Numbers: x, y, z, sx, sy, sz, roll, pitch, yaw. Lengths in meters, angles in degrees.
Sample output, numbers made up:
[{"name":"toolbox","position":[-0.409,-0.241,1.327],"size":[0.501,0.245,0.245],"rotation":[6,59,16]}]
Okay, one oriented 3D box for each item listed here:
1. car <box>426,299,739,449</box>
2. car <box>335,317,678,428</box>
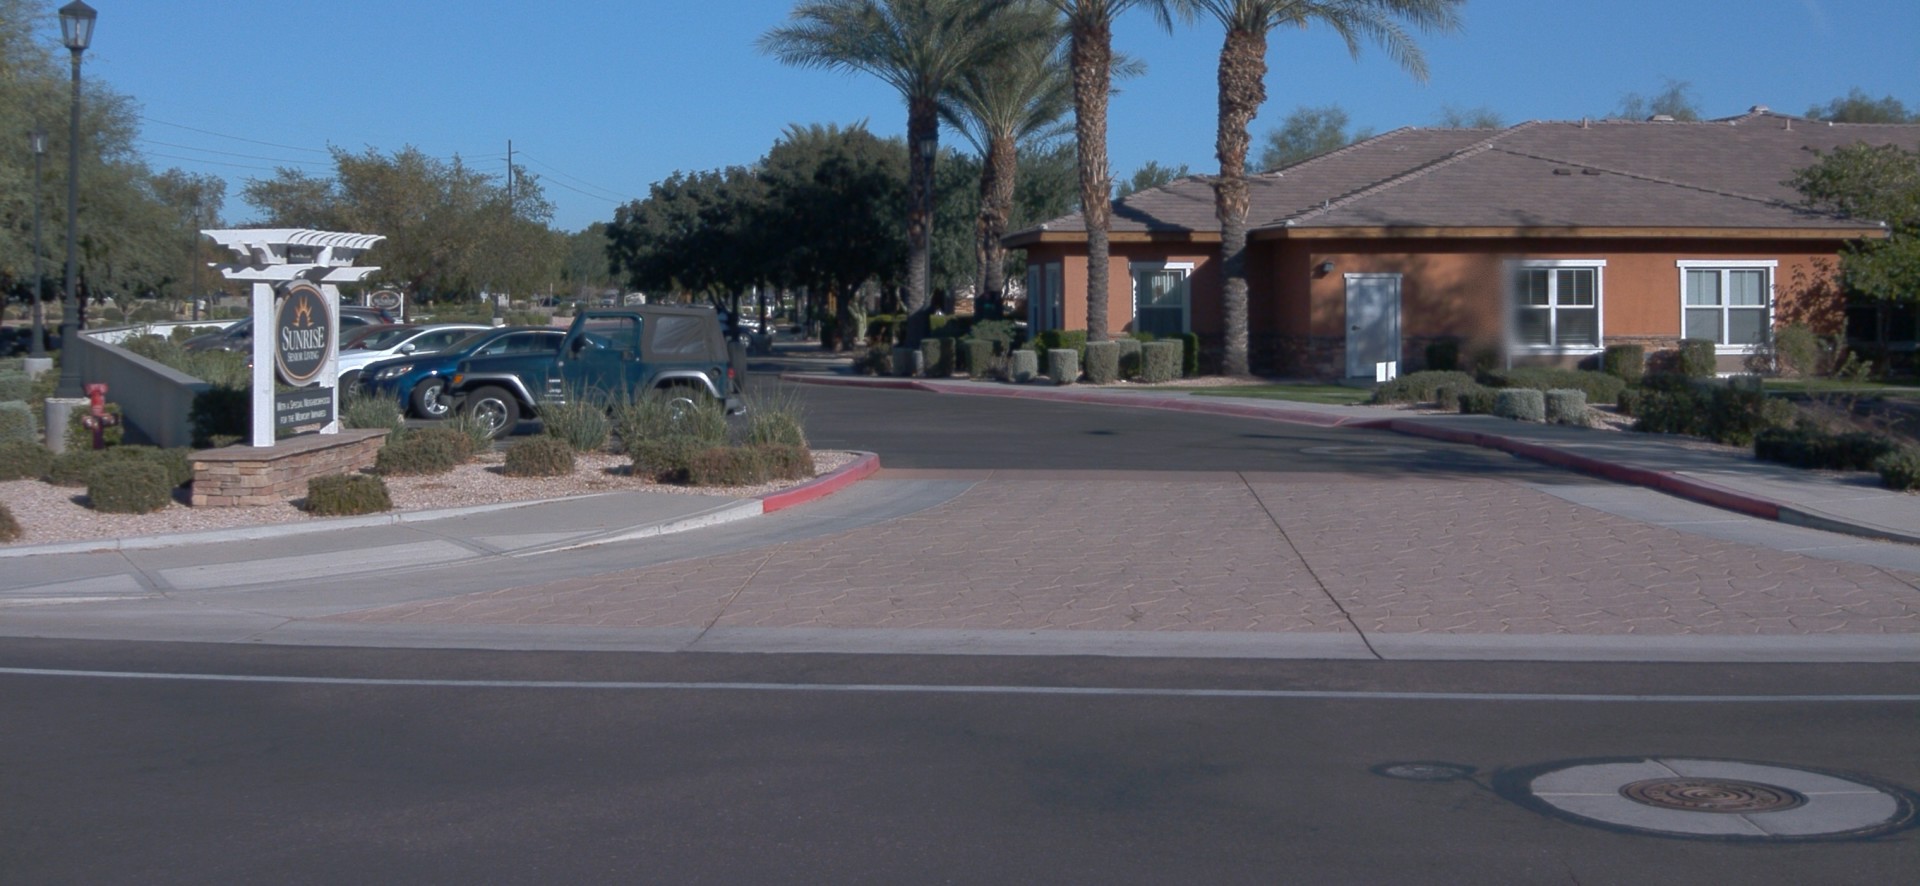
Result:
[{"name":"car","position":[-5.071,-0.977,27.709],"size":[3.981,1.795,1.985],"rotation":[-1,4,-15]},{"name":"car","position":[-7.293,-1.191,33.435],"size":[5.067,1.495,2.103],"rotation":[-3,5,-25]}]
